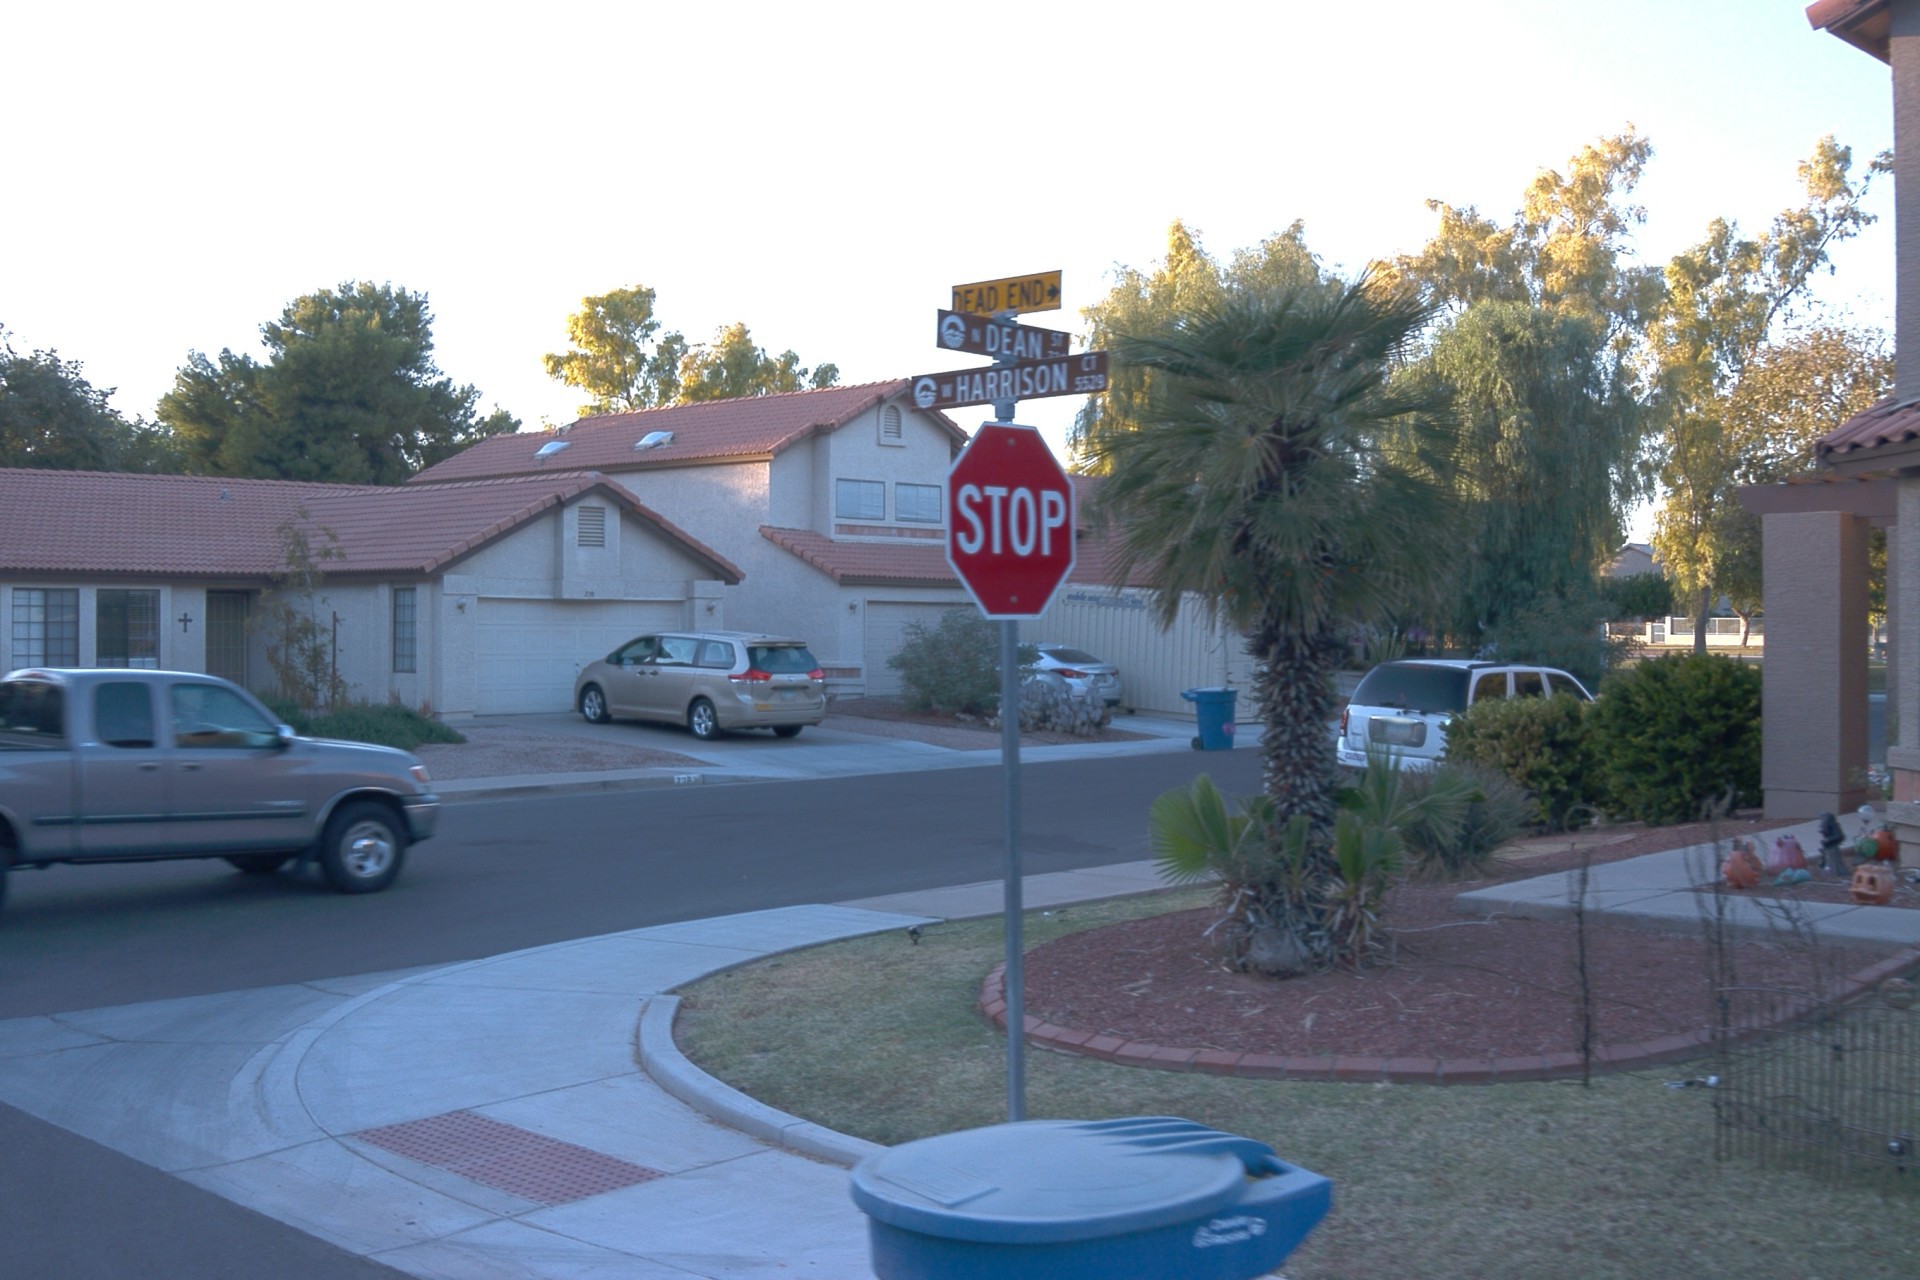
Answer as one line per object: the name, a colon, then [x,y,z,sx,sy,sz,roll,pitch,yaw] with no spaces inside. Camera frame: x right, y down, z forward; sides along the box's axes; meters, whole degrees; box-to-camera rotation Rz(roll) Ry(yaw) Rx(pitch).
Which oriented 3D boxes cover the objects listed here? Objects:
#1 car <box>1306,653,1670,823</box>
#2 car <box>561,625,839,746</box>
car: [6.432,1.090,24.988,4.704,1.840,2.118,1,-1,-45]
car: [-4.486,0.740,35.404,4.850,1.910,2.173,0,-1,45]
